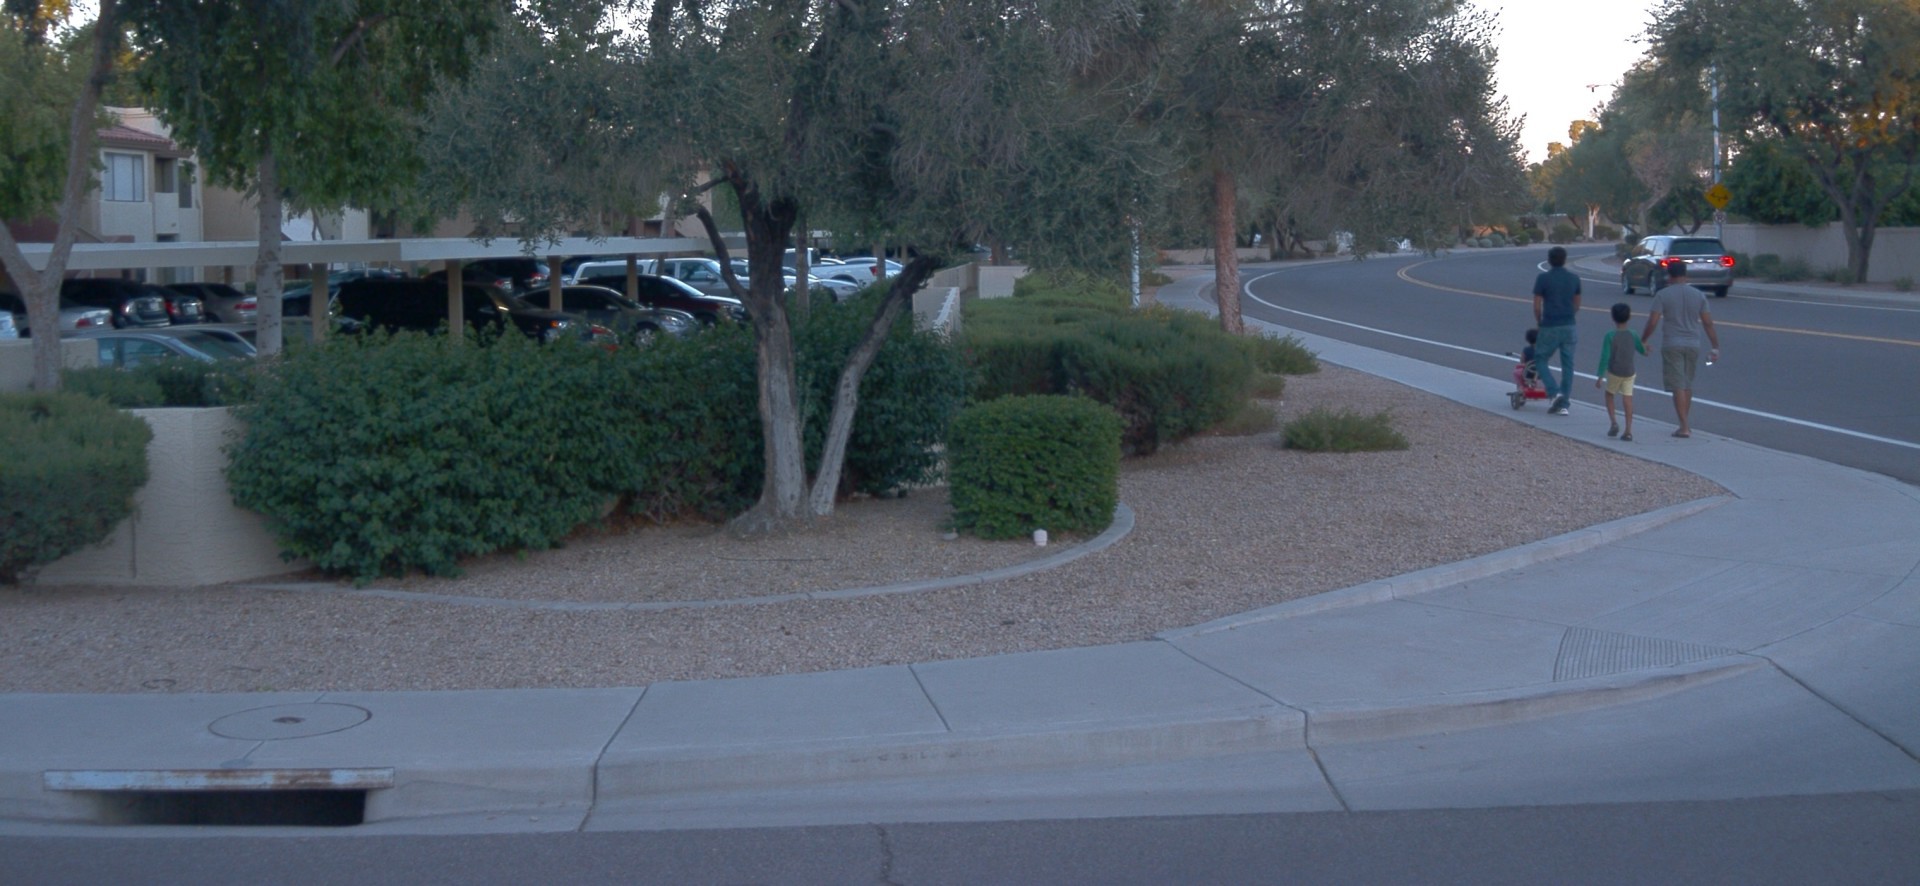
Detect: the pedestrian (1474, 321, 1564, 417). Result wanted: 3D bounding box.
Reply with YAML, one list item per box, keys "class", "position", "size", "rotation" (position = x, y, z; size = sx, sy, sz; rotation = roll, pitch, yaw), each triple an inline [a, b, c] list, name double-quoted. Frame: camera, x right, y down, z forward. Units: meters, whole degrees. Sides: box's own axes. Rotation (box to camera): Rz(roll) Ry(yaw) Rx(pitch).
- class: "pedestrian"
  position: [6.190, -0.838, 23.099]
  size: [0.628, 0.977, 1.071]
  rotation: [-1, 4, -6]

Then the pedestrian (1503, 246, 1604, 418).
- class: "pedestrian"
  position: [6.327, -1.208, 22.248]
  size: [0.773, 1.777, 0.935]
  rotation: [0, 2, -3]

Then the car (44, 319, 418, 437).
- class: "car"
  position: [-10.375, -0.966, 29.802]
  size: [4.691, 1.505, 1.902]
  rotation: [1, 4, 9]

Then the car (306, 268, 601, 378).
- class: "car"
  position: [-9.237, -2.222, 38.262]
  size: [4.818, 1.895, 2.161]
  rotation: [0, 4, 4]

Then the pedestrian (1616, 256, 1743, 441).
- class: "pedestrian"
  position: [6.829, -0.919, 19.817]
  size: [0.900, 1.687, 0.958]
  rotation: [0, 2, 2]

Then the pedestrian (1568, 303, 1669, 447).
- class: "pedestrian"
  position: [6.188, -0.655, 19.620]
  size: [0.740, 1.298, 0.753]
  rotation: [0, 2, 3]
